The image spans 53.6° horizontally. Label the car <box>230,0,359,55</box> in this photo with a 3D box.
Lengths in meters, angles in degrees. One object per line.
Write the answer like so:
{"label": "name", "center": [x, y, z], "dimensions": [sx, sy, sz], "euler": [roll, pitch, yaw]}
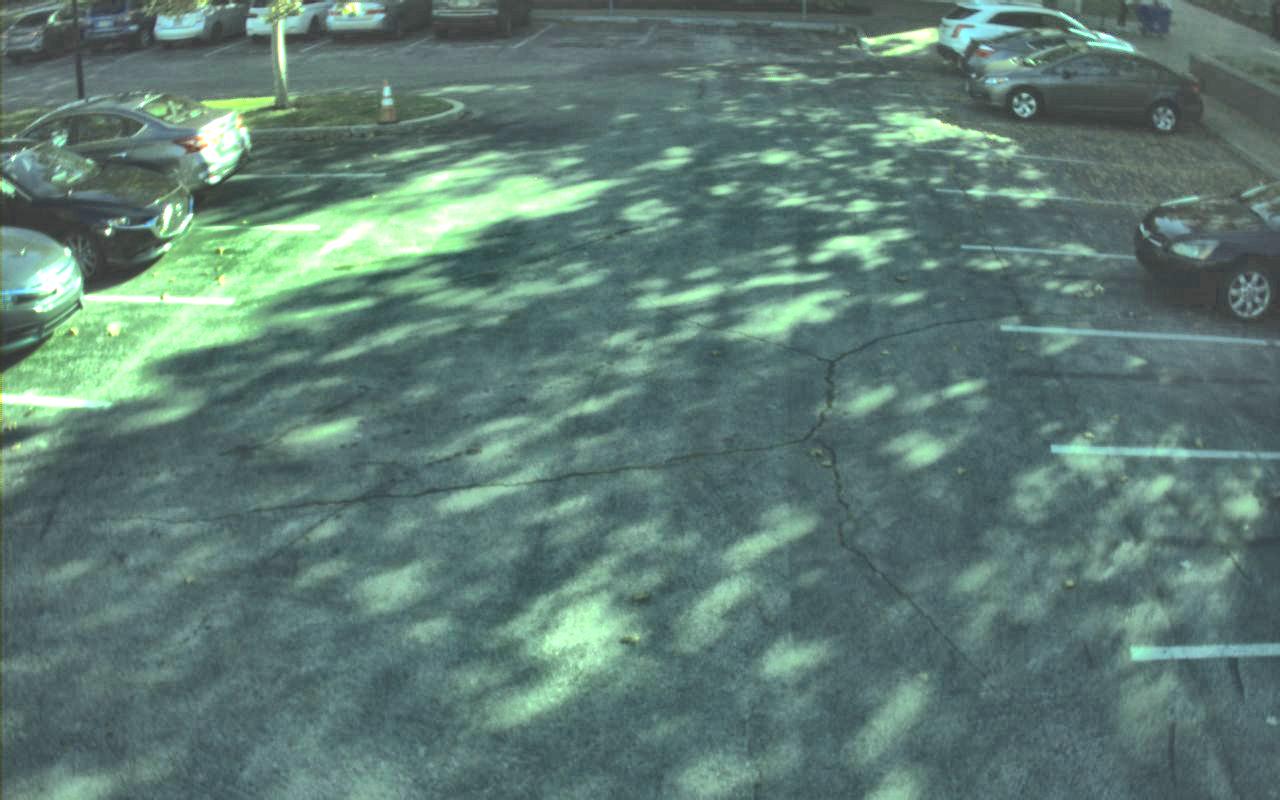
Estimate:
{"label": "car", "center": [-9.344, -10.280, 32.086], "dimensions": [1.959, 1.634, 4.525], "euler": [1, 17, 8]}

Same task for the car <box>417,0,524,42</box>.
{"label": "car", "center": [-4.305, -10.127, 31.251], "dimensions": [2.004, 1.692, 4.616], "euler": [0, 17, 2]}

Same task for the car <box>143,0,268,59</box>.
{"label": "car", "center": [-12.127, -10.467, 32.363], "dimensions": [1.956, 1.634, 4.503], "euler": [0, 17, 5]}

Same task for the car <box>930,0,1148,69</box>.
{"label": "car", "center": [8.717, -8.188, 25.648], "dimensions": [4.586, 1.678, 1.993], "euler": [0, 16, 3]}

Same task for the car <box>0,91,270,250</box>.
{"label": "car", "center": [-7.238, -3.038, 15.285], "dimensions": [4.321, 1.617, 1.937], "euler": [0, 16, 3]}

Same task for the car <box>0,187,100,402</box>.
{"label": "car", "center": [-7.579, -0.995, 10.406], "dimensions": [4.375, 1.555, 1.932], "euler": [0, 16, 5]}

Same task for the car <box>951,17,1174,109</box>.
{"label": "car", "center": [8.409, -6.725, 23.433], "dimensions": [4.328, 1.559, 1.938], "euler": [1, 16, 6]}

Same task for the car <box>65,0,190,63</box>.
{"label": "car", "center": [-14.819, -10.700, 32.647], "dimensions": [1.969, 1.662, 4.539], "euler": [0, 17, 4]}

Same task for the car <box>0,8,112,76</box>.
{"label": "car", "center": [-17.494, -10.534, 32.528], "dimensions": [1.971, 1.660, 4.529], "euler": [0, 17, 3]}

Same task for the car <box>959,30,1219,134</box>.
{"label": "car", "center": [8.137, -5.779, 21.241], "dimensions": [4.636, 1.581, 1.999], "euler": [1, 16, 6]}

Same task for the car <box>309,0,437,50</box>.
{"label": "car", "center": [-6.922, -10.043, 31.355], "dimensions": [1.956, 1.619, 4.511], "euler": [1, 17, 8]}

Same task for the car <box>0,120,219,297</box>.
{"label": "car", "center": [-7.208, -2.169, 12.949], "dimensions": [4.445, 1.565, 1.947], "euler": [1, 16, 6]}
